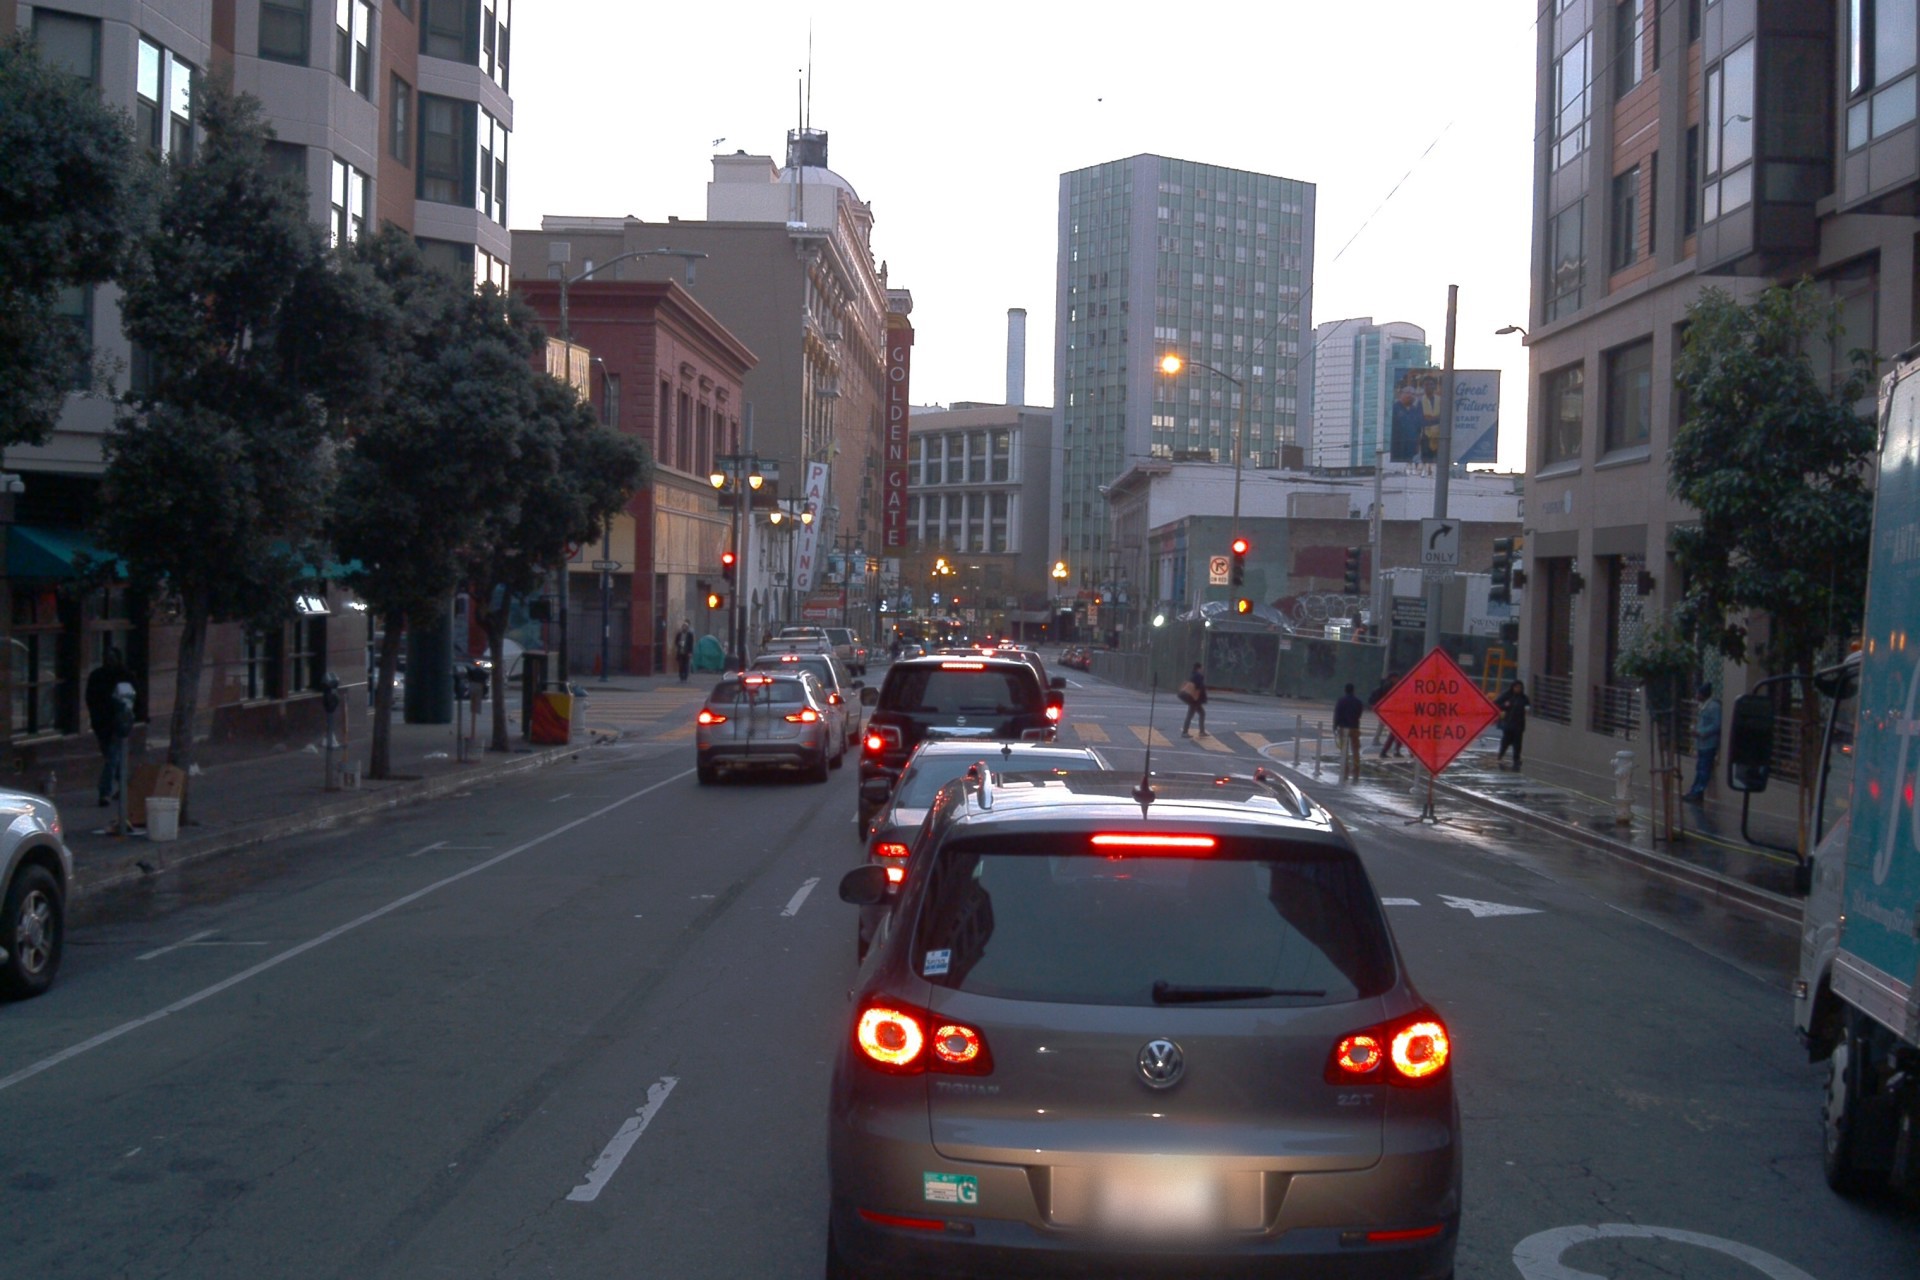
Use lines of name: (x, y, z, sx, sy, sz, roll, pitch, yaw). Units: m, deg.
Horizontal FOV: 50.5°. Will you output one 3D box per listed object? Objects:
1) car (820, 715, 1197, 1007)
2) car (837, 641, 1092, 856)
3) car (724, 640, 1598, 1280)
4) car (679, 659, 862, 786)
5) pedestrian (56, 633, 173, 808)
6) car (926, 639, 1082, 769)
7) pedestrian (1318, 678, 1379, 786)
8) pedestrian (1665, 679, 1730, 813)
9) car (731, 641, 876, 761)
car: (0.292, 1.323, 13.592, 2.089, 1.400, 4.279, 1, 1, 1)
car: (0.036, 1.027, 21.904, 2.368, 1.940, 5.339, 1, 1, 0)
car: (0.546, 1.063, 7.023, 2.109, 2.050, 3.981, 1, 1, 2)
car: (-2.614, 1.108, 29.089, 2.110, 1.572, 4.118, 1, 1, 1)
pedestrian: (-9.300, 0.868, 22.432, 0.828, 1.860, 1.059, 1, 1, -1)
car: (0.622, 0.853, 29.391, 2.036, 1.650, 4.678, 1, 1, 1)
pedestrian: (6.687, 1.573, 35.069, 0.777, 1.790, 0.924, 1, 1, -4)
pedestrian: (10.762, 1.530, 29.715, 0.659, 1.890, 0.755, 1, 1, 4)
car: (-2.657, 0.994, 35.547, 1.896, 1.880, 4.462, 1, 1, 4)
